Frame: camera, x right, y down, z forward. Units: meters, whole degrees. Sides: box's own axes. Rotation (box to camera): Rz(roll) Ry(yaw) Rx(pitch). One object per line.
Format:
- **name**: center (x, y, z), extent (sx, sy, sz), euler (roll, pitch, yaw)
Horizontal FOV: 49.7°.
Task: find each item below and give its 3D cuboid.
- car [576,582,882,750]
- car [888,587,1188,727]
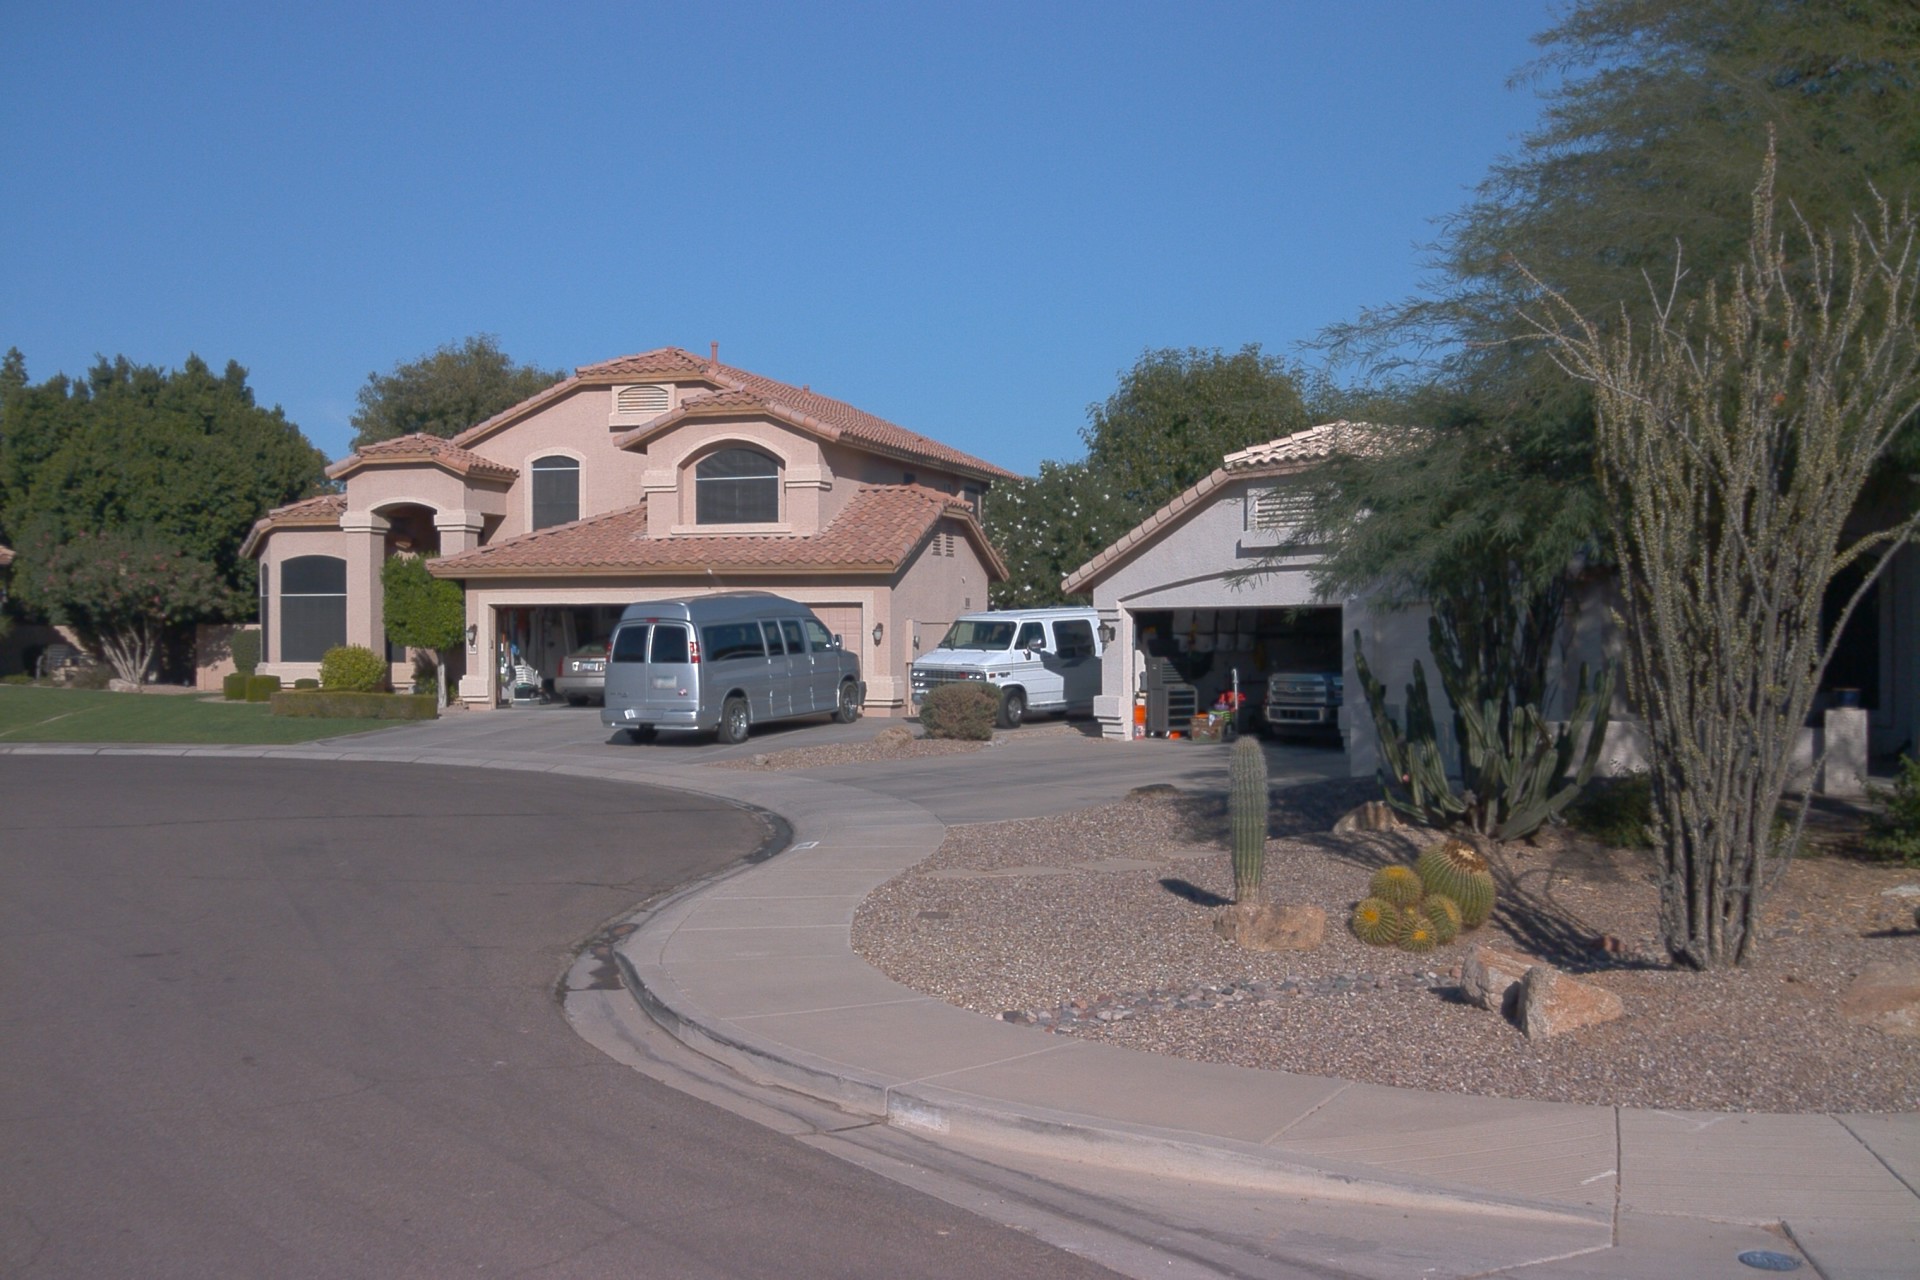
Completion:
- **car**: center (-3.807, 0.426, 35.679), extent (2.379, 2.620, 6.114), euler (0, 0, 25)
- **car**: center (1.479, 0.313, 37.520), extent (5.275, 2.342, 2.428), euler (1, 0, -44)
